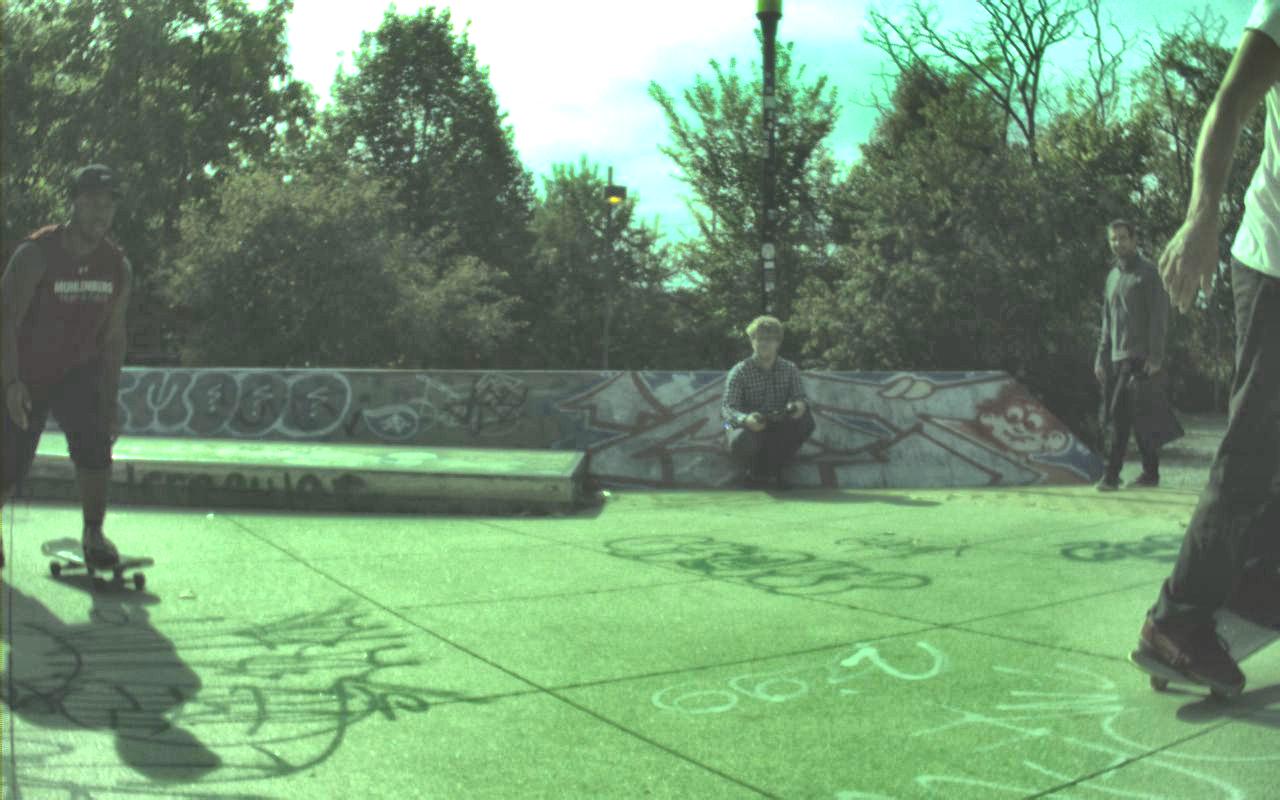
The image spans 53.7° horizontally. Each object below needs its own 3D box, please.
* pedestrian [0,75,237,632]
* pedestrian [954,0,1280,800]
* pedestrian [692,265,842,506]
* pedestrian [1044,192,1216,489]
[{"bbox_3d":[-1.975,-0.149,4.004,0.848,1.736,0.821,1,0,41],"label":"pedestrian"},{"bbox_3d":[1.193,-0.023,2.222,0.858,1.737,0.812,0,0,-16],"label":"pedestrian"},{"bbox_3d":[0.802,-0.096,8.144,0.869,1.474,0.833,0,0,-2],"label":"pedestrian"},{"bbox_3d":[3.132,-0.352,7.524,0.833,1.763,0.816,0,0,-27],"label":"pedestrian"}]
